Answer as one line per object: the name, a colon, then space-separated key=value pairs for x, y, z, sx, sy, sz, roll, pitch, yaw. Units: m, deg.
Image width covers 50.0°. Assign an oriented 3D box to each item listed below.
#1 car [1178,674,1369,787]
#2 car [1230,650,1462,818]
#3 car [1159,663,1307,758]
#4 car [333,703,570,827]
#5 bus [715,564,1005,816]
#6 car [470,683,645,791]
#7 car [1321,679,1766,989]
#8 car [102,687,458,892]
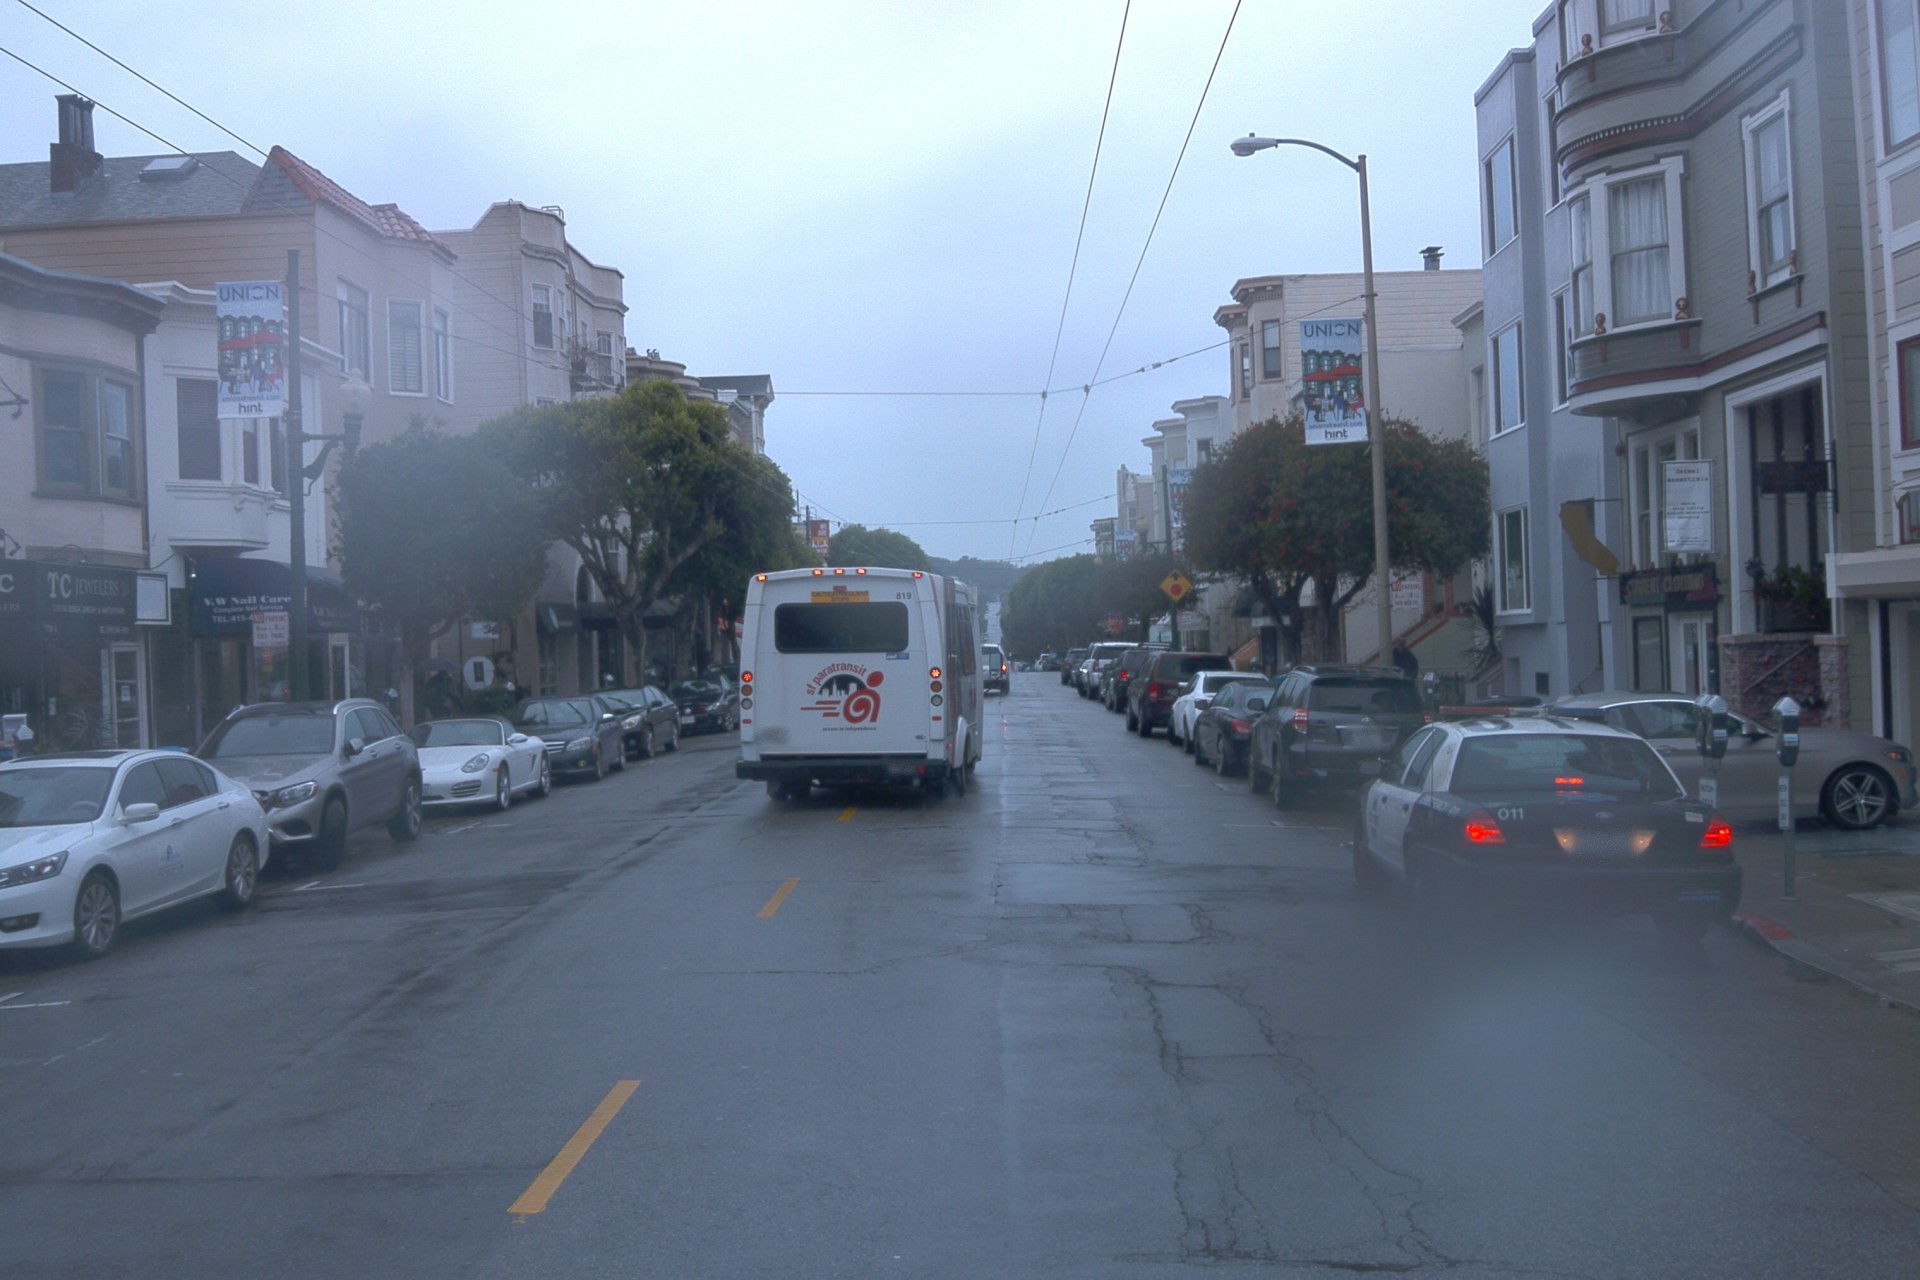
car: x=4.654 y=1.315 z=31.313 sx=2.068 sy=1.440 sz=4.640 roll=1 pitch=1 yaw=-1
car: x=4.604 y=1.058 z=25.255 sx=2.116 sy=1.790 sz=4.480 roll=1 pitch=1 yaw=2
car: x=4.843 y=1.220 z=37.183 sx=2.086 sy=1.470 sz=4.894 roll=1 pitch=1 yaw=1
car: x=-6.881 y=1.656 z=28.426 sx=2.114 sy=1.370 sz=4.598 roll=1 pitch=1 yaw=0
bus: x=-1.077 y=0.533 z=26.910 sx=2.789 sy=2.850 sz=6.701 roll=1 pitch=1 yaw=6
car: x=-6.583 y=1.543 z=34.213 sx=2.149 sy=1.490 sz=4.929 roll=1 pitch=1 yaw=-3
car: x=4.000 y=1.221 z=15.184 sx=2.108 sy=1.690 sz=5.362 roll=1 pitch=1 yaw=4
car: x=-7.038 y=1.471 z=21.974 sx=2.149 sy=1.760 sz=4.916 roll=1 pitch=1 yaw=0
